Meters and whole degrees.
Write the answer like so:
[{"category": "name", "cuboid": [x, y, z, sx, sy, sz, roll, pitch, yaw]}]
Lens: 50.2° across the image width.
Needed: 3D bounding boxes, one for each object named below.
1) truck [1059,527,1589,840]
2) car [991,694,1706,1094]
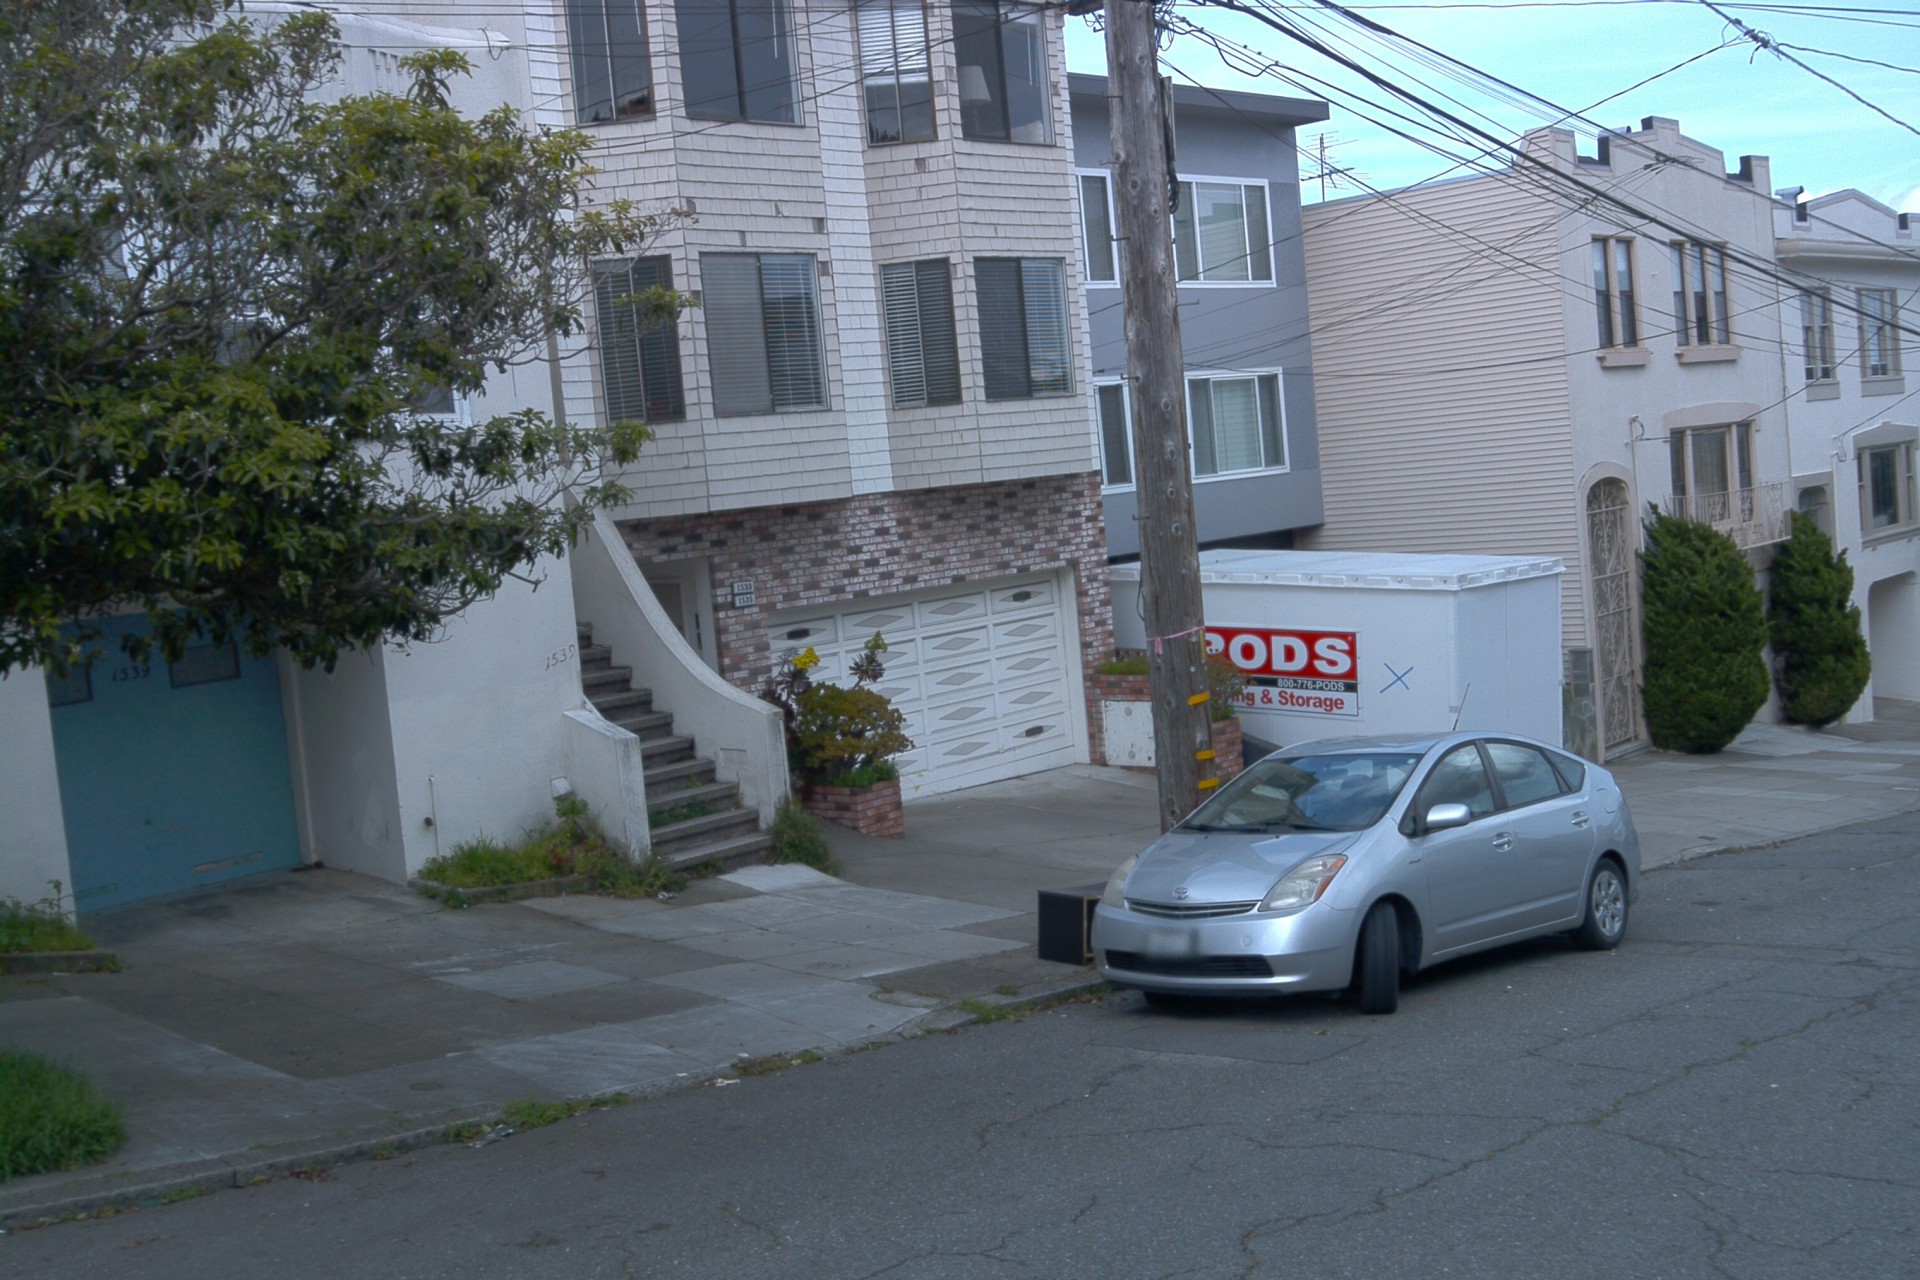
[{"category": "truck", "cuboid": [4.226, 0.421, 24.549, 5.640, 3.300, 2.780, 1, 1, 45]}, {"category": "car", "cuboid": [2.521, 1.317, 12.503, 2.145, 1.807, 4.513, 1, 1, 44]}]
